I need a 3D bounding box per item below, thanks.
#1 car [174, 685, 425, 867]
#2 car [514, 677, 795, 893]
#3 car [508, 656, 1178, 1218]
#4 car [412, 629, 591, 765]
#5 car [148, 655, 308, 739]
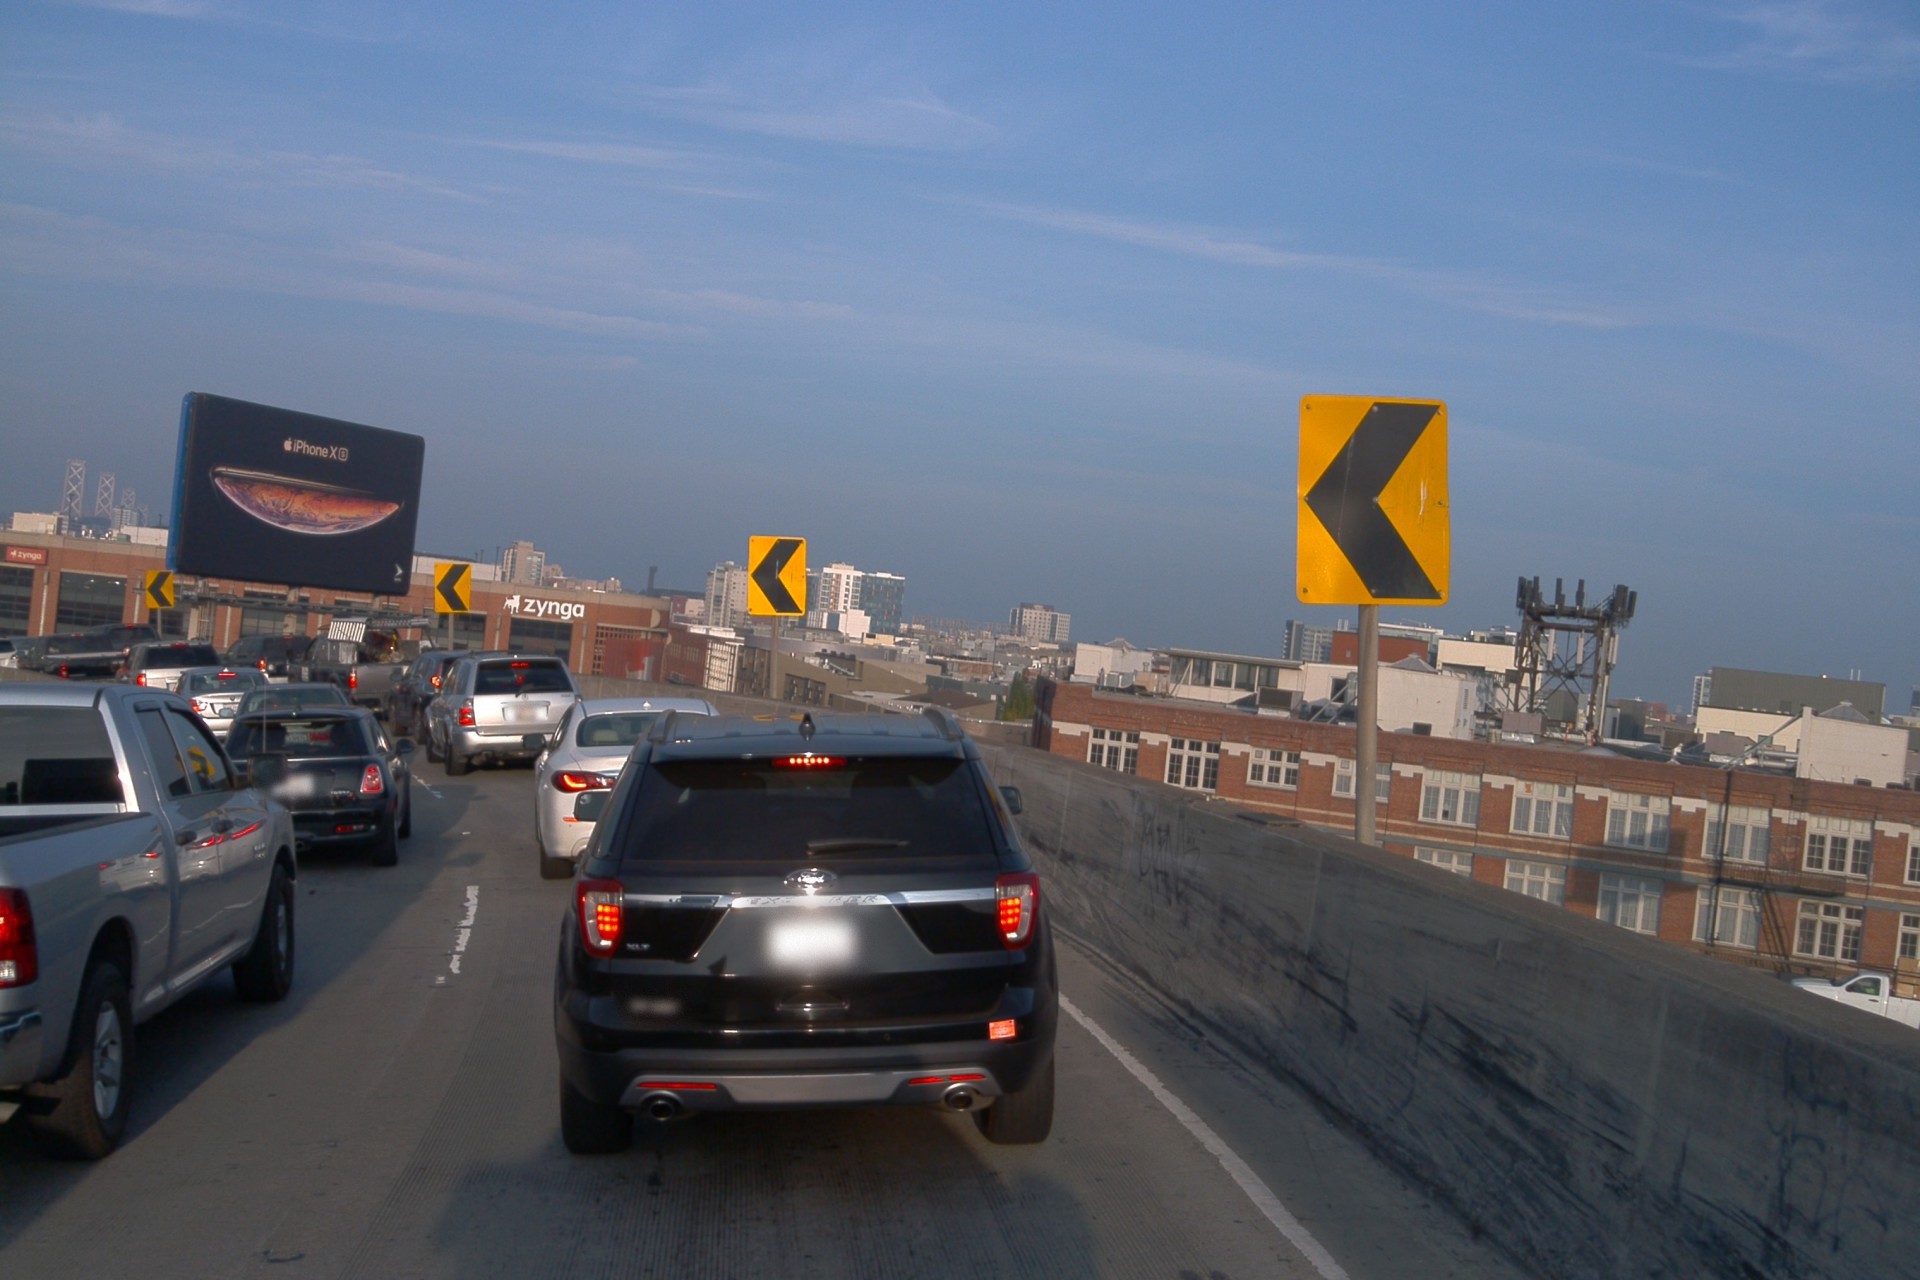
[{"bbox_3d":[-6.121,1.189,19.443,1.934,1.411,4.084,0,0,-13],"label":"car"},{"bbox_3d":[-2.892,1.184,18.553,2.143,1.590,4.510,0,0,-13],"label":"car"},{"bbox_3d":[-0.709,1.032,9.568,2.327,1.850,4.877,0,0,-8],"label":"car"},{"bbox_3d":[-6.795,0.762,30.077,1.992,1.820,4.394,0,0,-20],"label":"car"},{"bbox_3d":[-12.881,0.945,35.937,2.005,1.310,4.887,0,0,-27],"label":"car"}]
